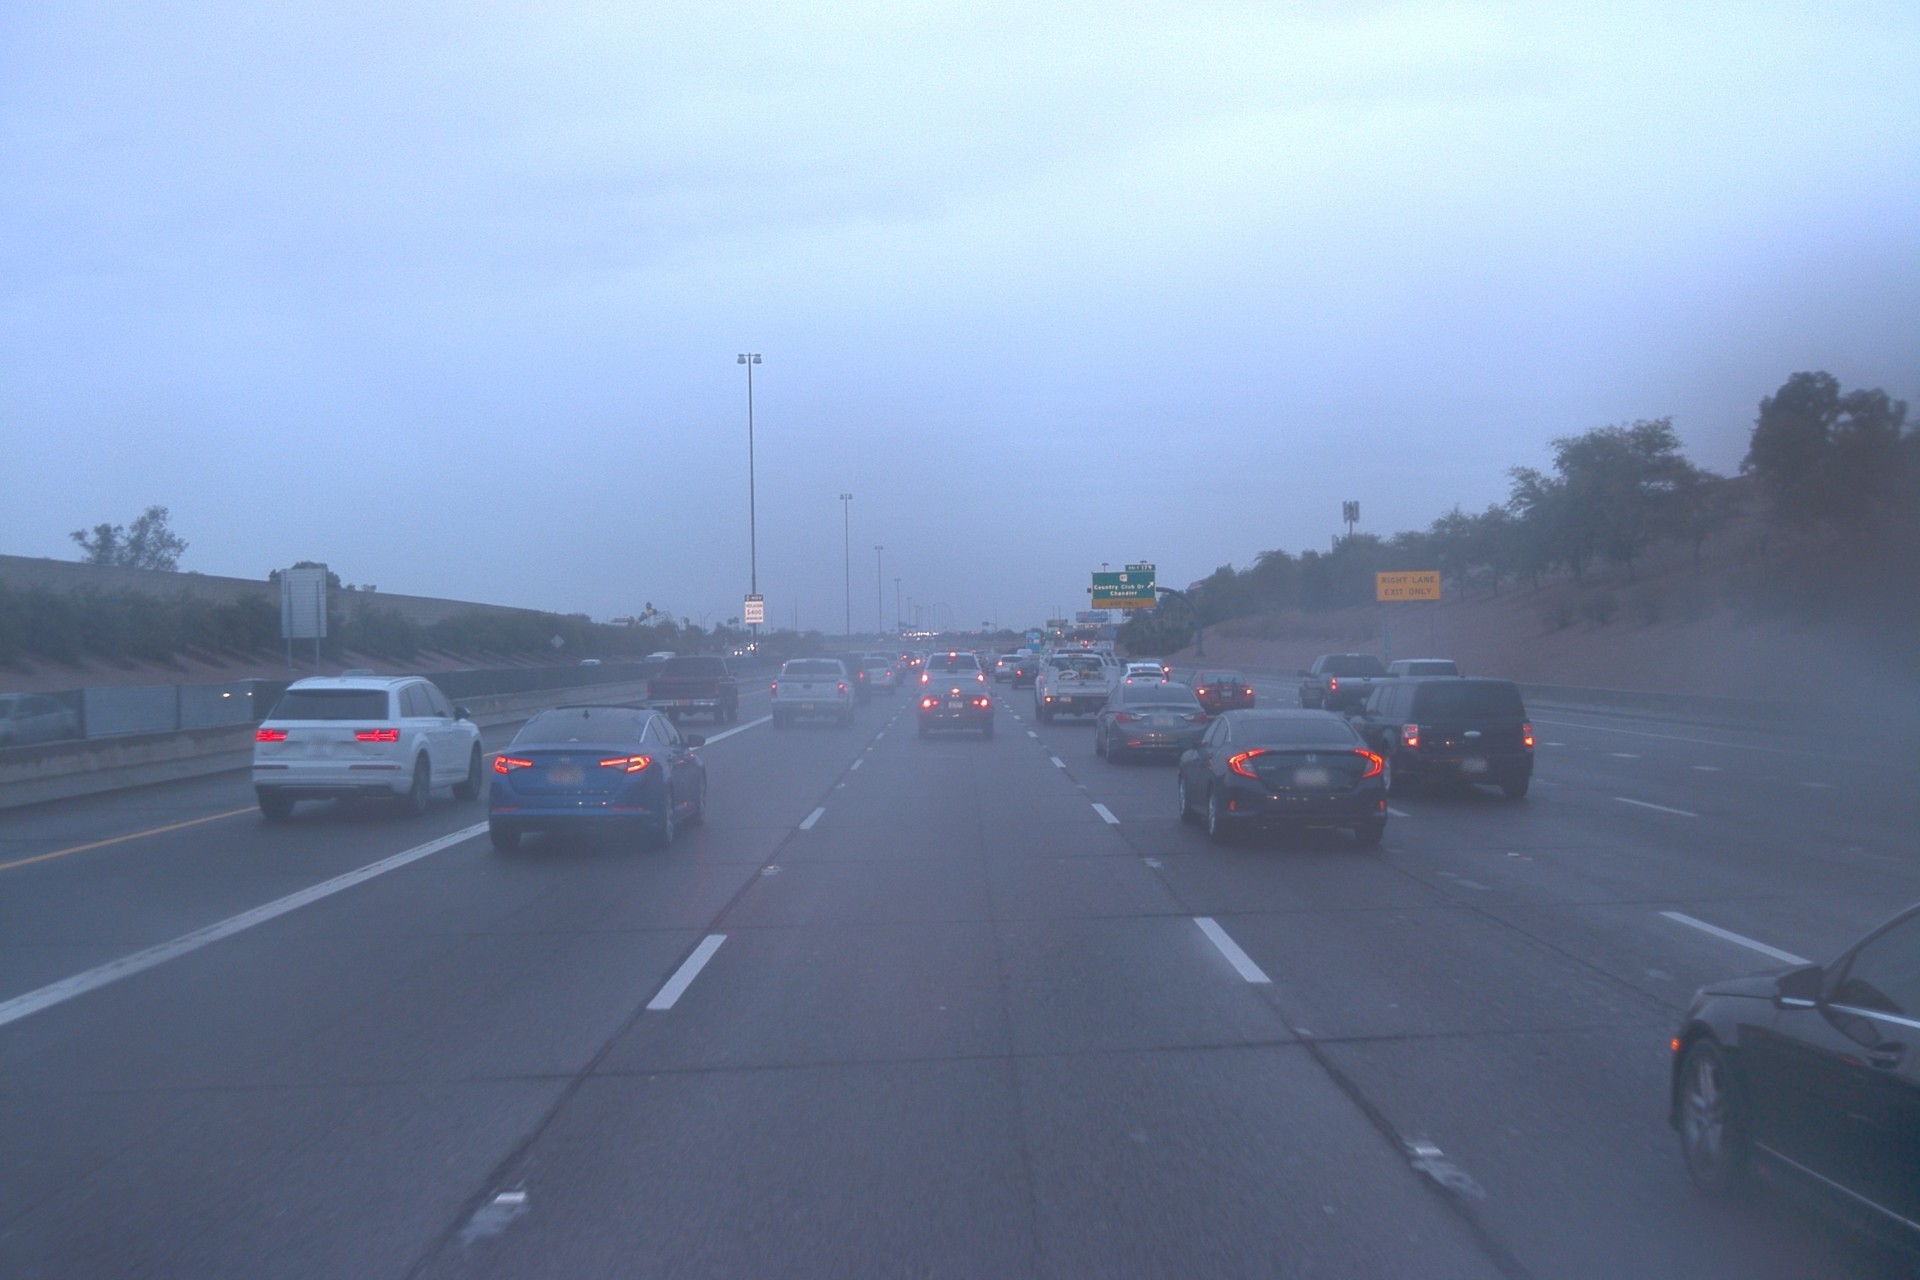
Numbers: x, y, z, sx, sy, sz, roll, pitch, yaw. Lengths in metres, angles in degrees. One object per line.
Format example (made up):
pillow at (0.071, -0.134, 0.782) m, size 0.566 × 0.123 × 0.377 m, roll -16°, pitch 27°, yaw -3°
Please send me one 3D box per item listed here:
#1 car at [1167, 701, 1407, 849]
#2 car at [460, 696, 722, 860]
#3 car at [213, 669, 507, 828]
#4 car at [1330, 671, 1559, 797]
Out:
car at (3.514, 1.427, 23.125) m, size 1.973 × 1.380 × 4.335 m, roll 0°, pitch 0°, yaw 0°
car at (-3.889, 1.413, 22.678) m, size 1.988 × 1.510 × 4.517 m, roll 0°, pitch 0°, yaw 1°
car at (-7.577, 1.301, 26.883) m, size 2.303 × 1.810 × 5.259 m, roll 0°, pitch 0°, yaw 0°
car at (6.912, 1.293, 30.218) m, size 2.228 × 1.630 × 4.896 m, roll 0°, pitch 0°, yaw 1°
